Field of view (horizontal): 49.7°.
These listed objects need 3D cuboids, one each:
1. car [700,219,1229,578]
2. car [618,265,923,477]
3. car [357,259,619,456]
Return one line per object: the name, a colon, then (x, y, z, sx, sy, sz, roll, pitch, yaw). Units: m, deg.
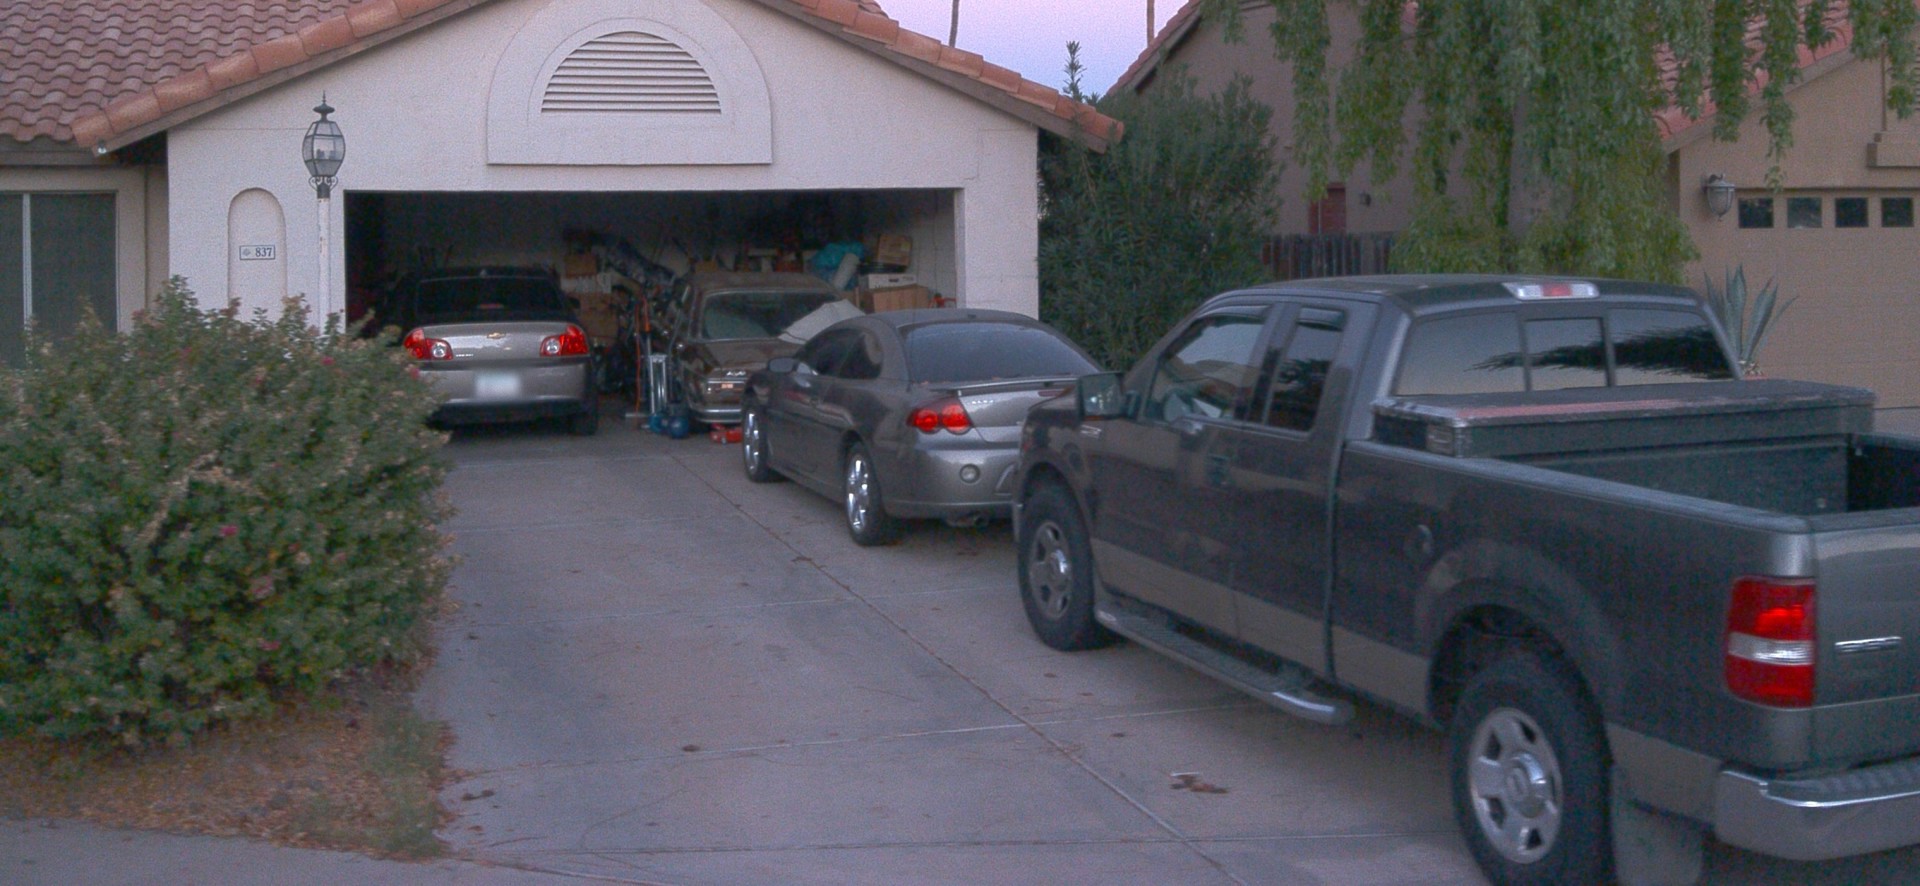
car: (-0.211, -0.483, 13.766, 2.034, 1.924, 4.742, -2, 5, -20)
car: (-1.897, -0.791, 19.164, 1.912, 1.650, 4.605, -1, 5, -17)
car: (-4.278, -0.880, 18.483, 2.009, 1.485, 4.471, -1, 5, -15)
